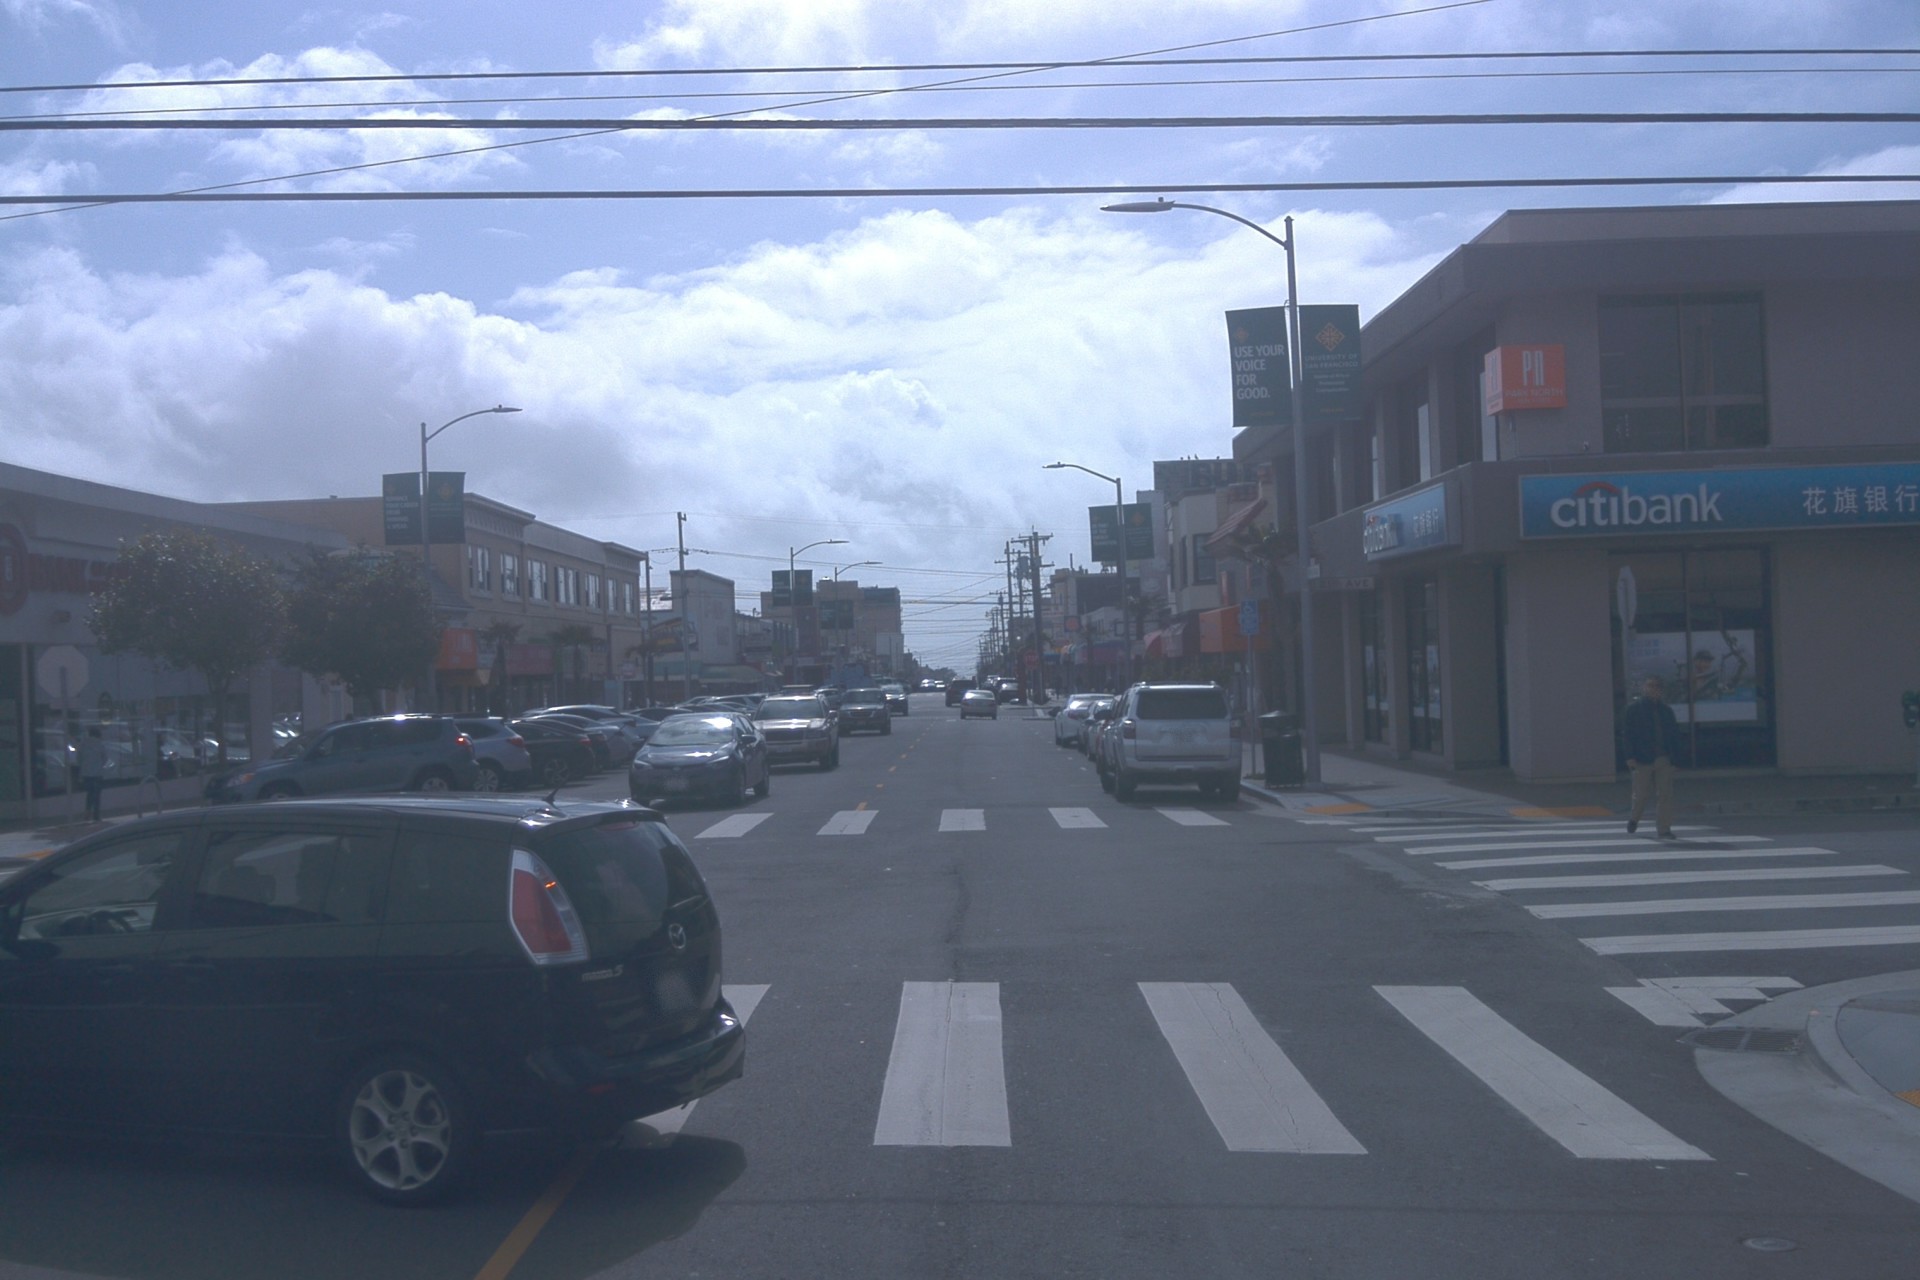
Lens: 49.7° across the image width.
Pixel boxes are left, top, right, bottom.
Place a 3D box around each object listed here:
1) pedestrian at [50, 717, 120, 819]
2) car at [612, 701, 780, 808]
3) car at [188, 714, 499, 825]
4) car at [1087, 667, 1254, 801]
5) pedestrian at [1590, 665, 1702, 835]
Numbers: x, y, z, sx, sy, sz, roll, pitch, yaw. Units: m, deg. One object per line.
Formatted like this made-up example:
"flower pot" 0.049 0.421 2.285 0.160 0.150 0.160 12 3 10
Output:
"pedestrian" -14.543 2.114 34.471 0.791 1.643 0.931 0 -1 -2
"car" -4.216 1.804 33.804 2.013 1.553 4.581 0 -1 2
"car" -10.525 2.160 35.556 4.689 1.670 2.069 0 -1 -36
"car" 3.256 1.425 32.967 2.072 1.977 4.682 0 -1 -1
"pedestrian" 7.150 1.127 21.649 0.849 1.734 0.949 0 -1 0
